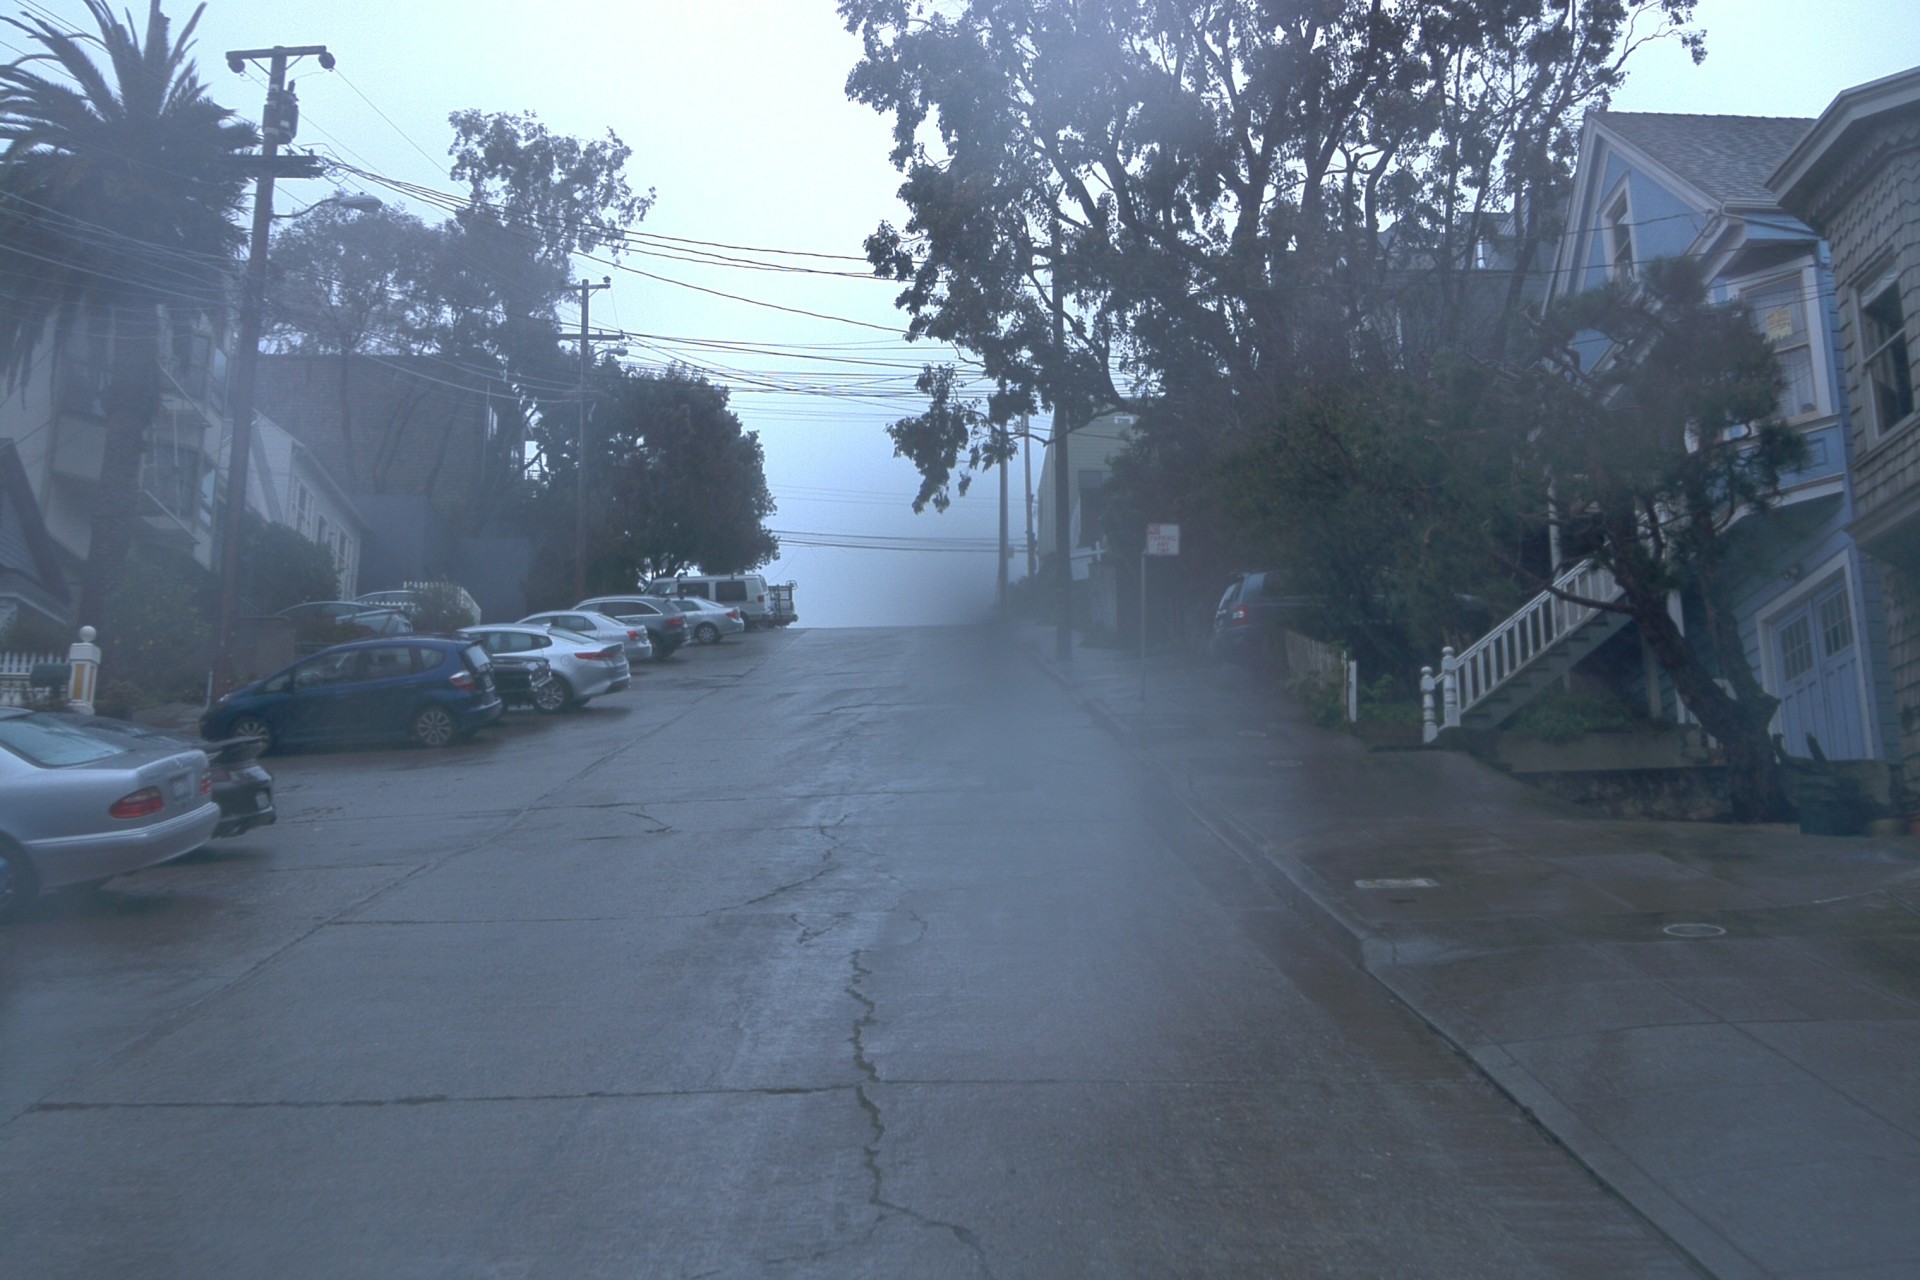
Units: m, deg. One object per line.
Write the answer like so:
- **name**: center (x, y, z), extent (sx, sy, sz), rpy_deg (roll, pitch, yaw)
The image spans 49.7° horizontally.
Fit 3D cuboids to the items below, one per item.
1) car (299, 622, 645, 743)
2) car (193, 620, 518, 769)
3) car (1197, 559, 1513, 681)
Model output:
- **car**: center (-7.894, 0.673, 33.844), extent (5.067, 1.890, 2.226), rpy_deg (0, 0, 4)
- **car**: center (-8.271, 0.729, 28.590), extent (3.852, 1.970, 2.105), rpy_deg (0, 0, 2)
- **car**: center (6.114, -0.300, 32.385), extent (4.464, 1.836, 2.040), rpy_deg (0, 0, -5)
